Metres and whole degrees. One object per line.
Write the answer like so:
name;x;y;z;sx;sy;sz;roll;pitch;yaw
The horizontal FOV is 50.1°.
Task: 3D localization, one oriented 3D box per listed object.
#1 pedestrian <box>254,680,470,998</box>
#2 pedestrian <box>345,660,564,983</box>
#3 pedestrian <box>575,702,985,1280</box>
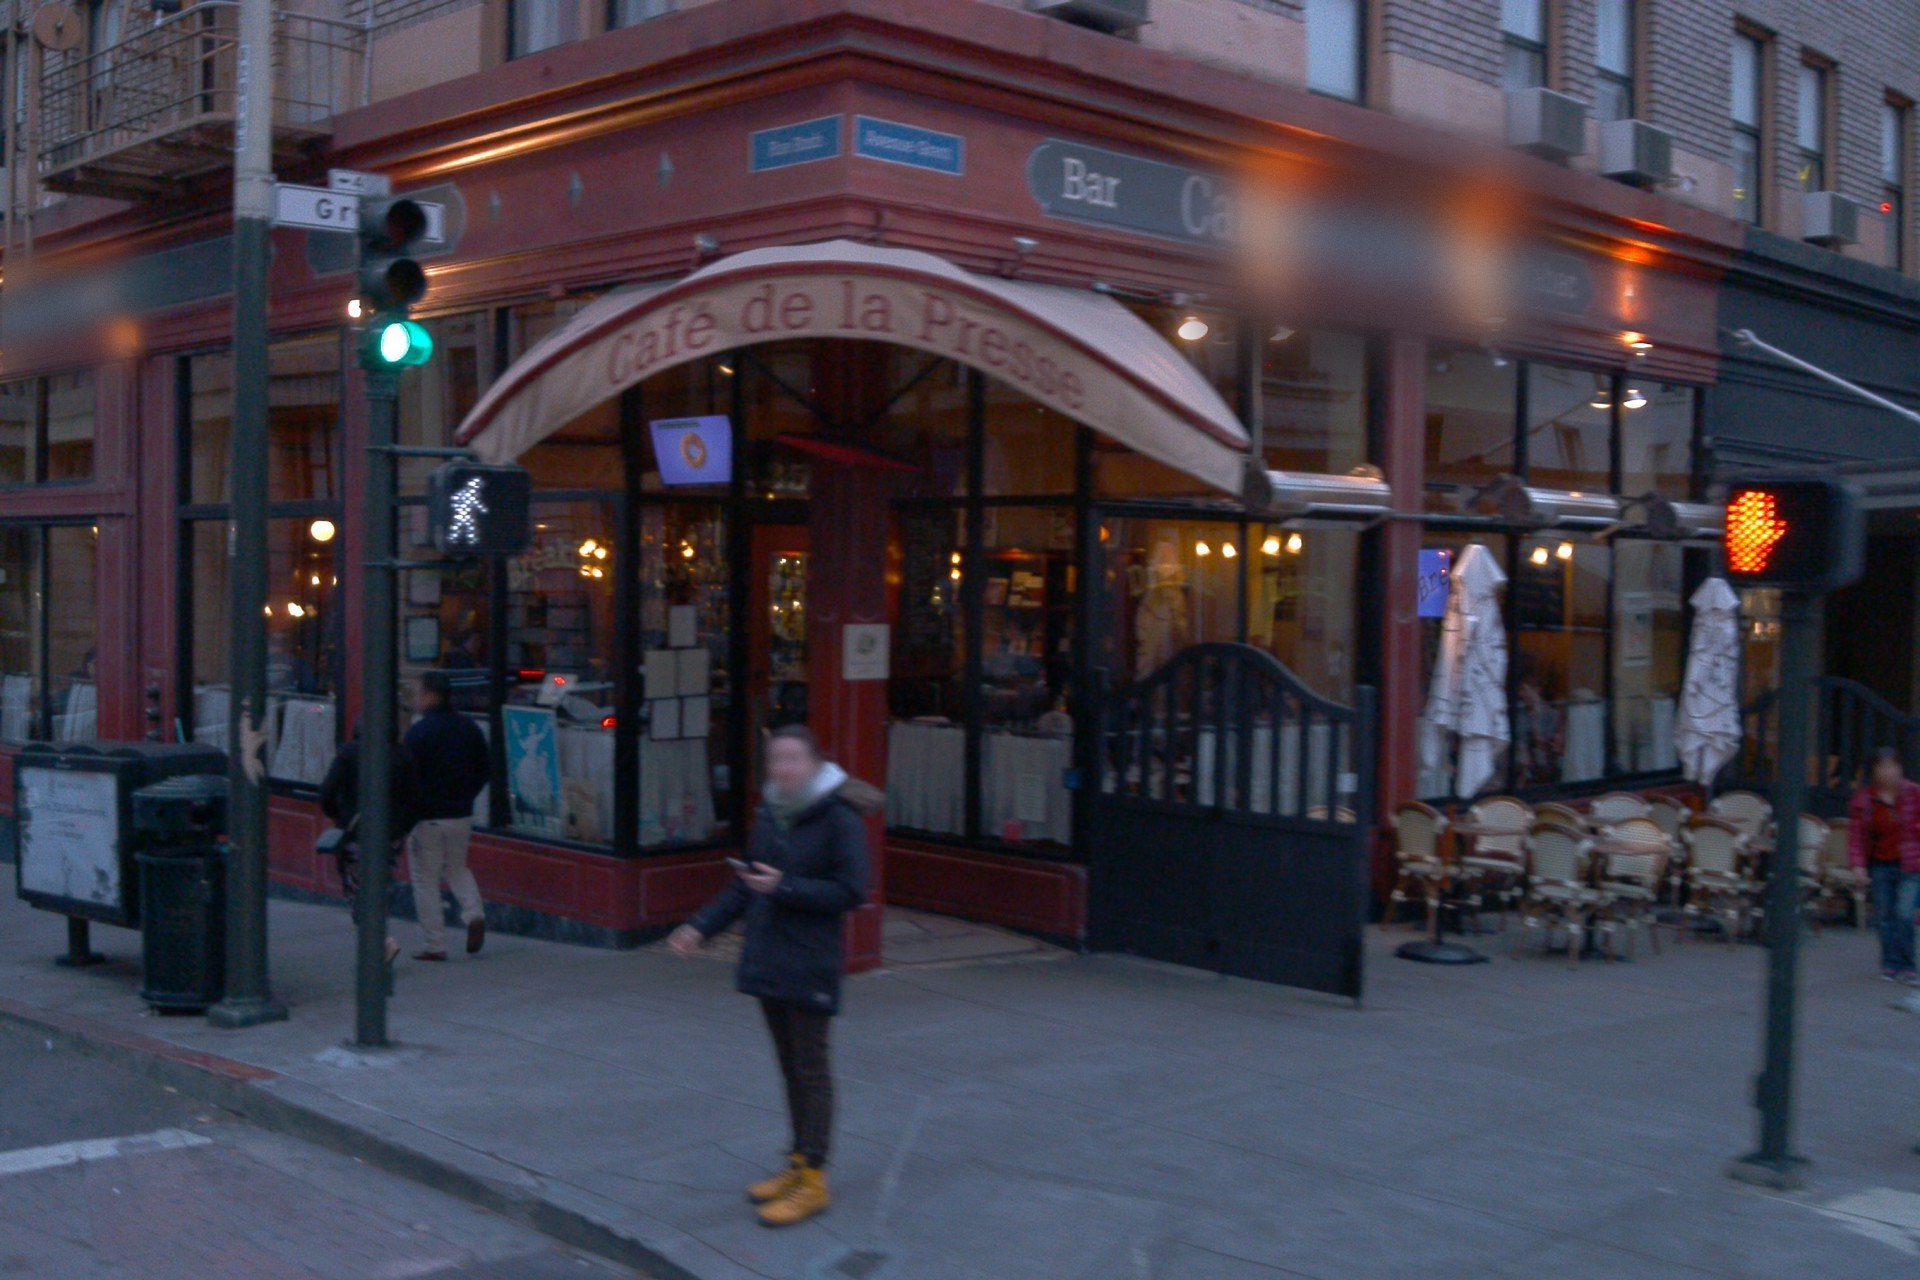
pedestrian;-3.357;1.071;11.537;0.963;1.655;0.762;0;0;42
pedestrian;-2.958;1.012;12.033;0.961;1.765;0.835;0;0;41
pedestrian;-0.607;1.119;7.034;0.911;1.756;1.056;0;0;41
